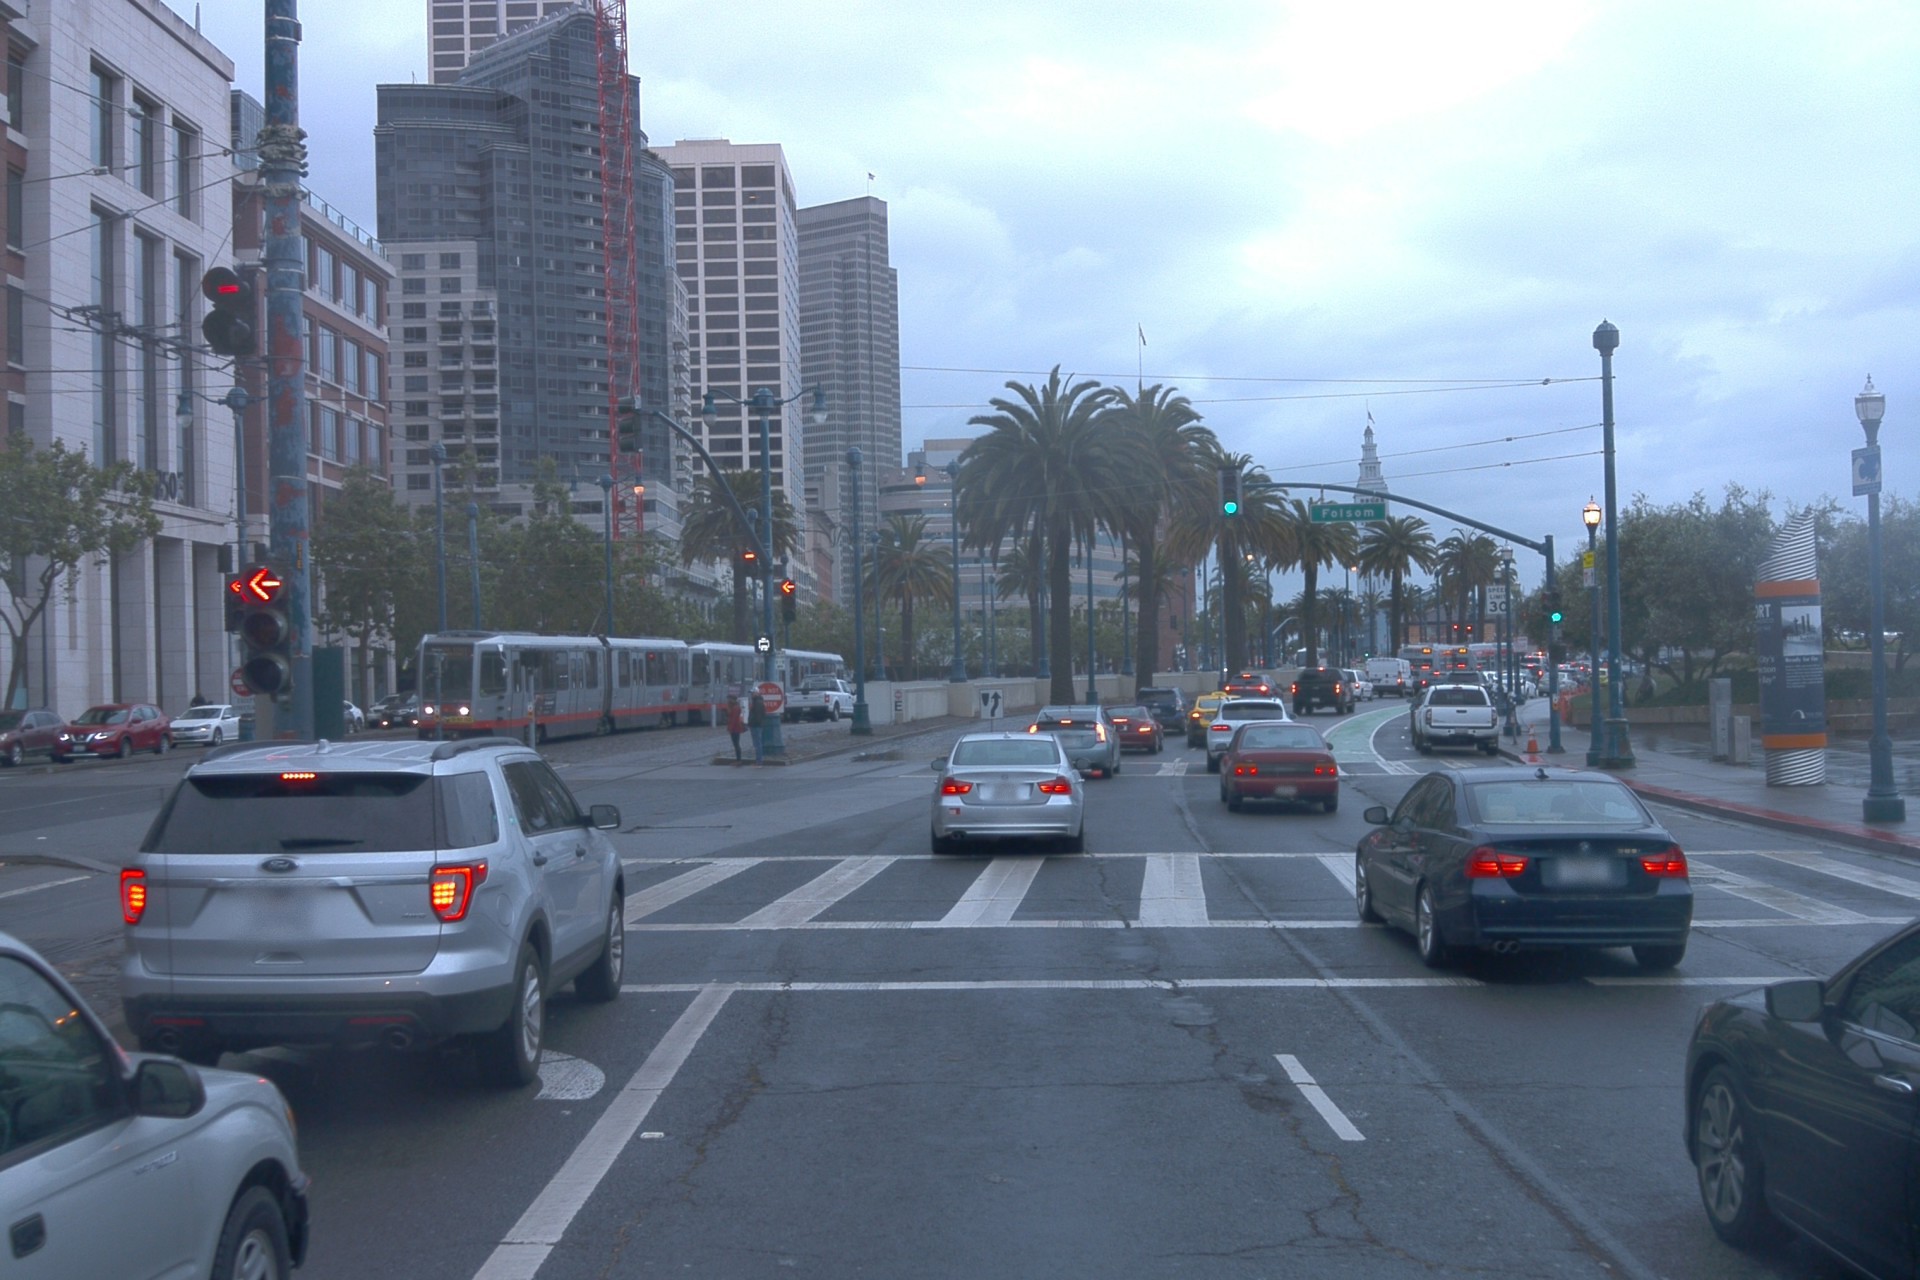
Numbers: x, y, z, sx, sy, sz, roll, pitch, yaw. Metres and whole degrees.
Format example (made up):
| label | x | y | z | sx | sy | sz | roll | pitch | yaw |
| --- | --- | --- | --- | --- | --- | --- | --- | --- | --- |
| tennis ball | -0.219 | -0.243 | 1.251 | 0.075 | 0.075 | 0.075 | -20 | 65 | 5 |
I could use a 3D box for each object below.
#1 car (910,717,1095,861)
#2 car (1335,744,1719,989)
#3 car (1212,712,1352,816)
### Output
| label | x | y | z | sx | sy | sz | roll | pitch | yaw |
| --- | --- | --- | --- | --- | --- | --- | --- | --- | --- |
| car | 0.600 | 1.751 | 25.506 | 2.067 | 1.510 | 4.626 | 0 | -1 | 3 |
| car | 4.115 | 1.595 | 15.797 | 1.869 | 1.450 | 4.344 | 0 | -1 | 2 |
| car | 4.984 | 1.902 | 32.553 | 1.923 | 1.450 | 3.944 | 0 | -1 | 5 |
